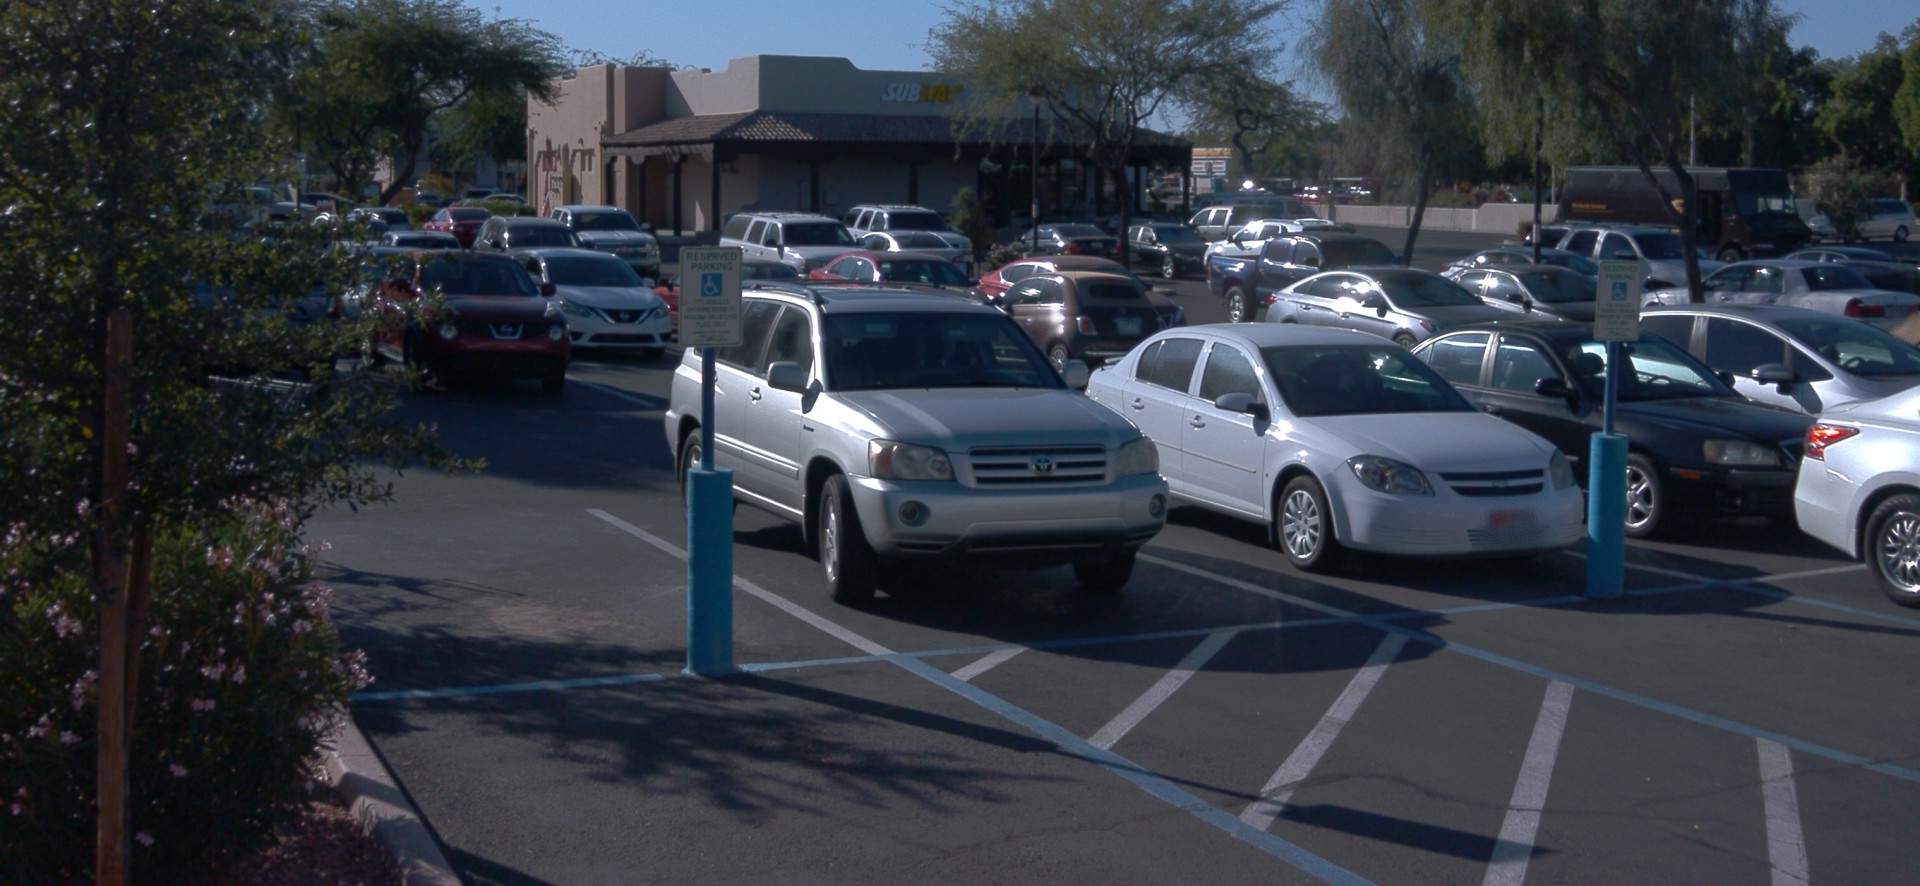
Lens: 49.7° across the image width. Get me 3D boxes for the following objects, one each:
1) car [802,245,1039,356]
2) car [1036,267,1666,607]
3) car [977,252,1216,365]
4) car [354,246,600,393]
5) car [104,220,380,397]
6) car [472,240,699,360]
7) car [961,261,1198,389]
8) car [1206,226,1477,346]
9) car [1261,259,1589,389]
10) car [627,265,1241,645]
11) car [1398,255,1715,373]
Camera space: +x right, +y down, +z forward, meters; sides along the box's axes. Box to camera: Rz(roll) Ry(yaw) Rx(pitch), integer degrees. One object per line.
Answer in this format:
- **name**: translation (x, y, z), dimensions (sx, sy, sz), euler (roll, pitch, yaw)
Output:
- **car**: translation (-0.736, -2.353, 33.262), dimensions (2.098, 1.563, 4.885), euler (-1, 6, -24)
- **car**: translation (2.414, -0.243, 14.158), dimensions (2.003, 1.802, 4.563), euler (-1, 6, -24)
- **car**: translation (2.103, -2.229, 33.400), dimensions (2.021, 1.593, 4.449), euler (-1, 6, -24)
- **car**: translation (-5.813, -1.543, 24.630), dimensions (1.991, 1.524, 4.043), euler (-1, 6, -26)
- **car**: translation (-8.219, -1.619, 23.478), dimensions (2.112, 1.773, 4.405), euler (-2, 6, -31)
- **car**: translation (-5.626, -2.183, 30.751), dimensions (2.023, 1.583, 4.444), euler (-2, 6, -28)
- **car**: translation (1.556, -1.673, 28.380), dimensions (1.740, 1.534, 3.823), euler (-1, 6, -23)
- **car**: translation (6.586, -2.842, 36.567), dimensions (2.098, 1.902, 5.311), euler (-1, 6, -23)
- **car**: translation (6.557, -1.799, 29.878), dimensions (2.192, 1.603, 4.822), euler (-1, 6, -23)
- **car**: translation (-0.414, -0.158, 12.949), dimensions (2.178, 1.782, 4.689), euler (-1, 6, -24)
- **car**: translation (8.809, -2.002, 31.065), dimensions (2.095, 1.543, 4.539), euler (-1, 6, -25)
